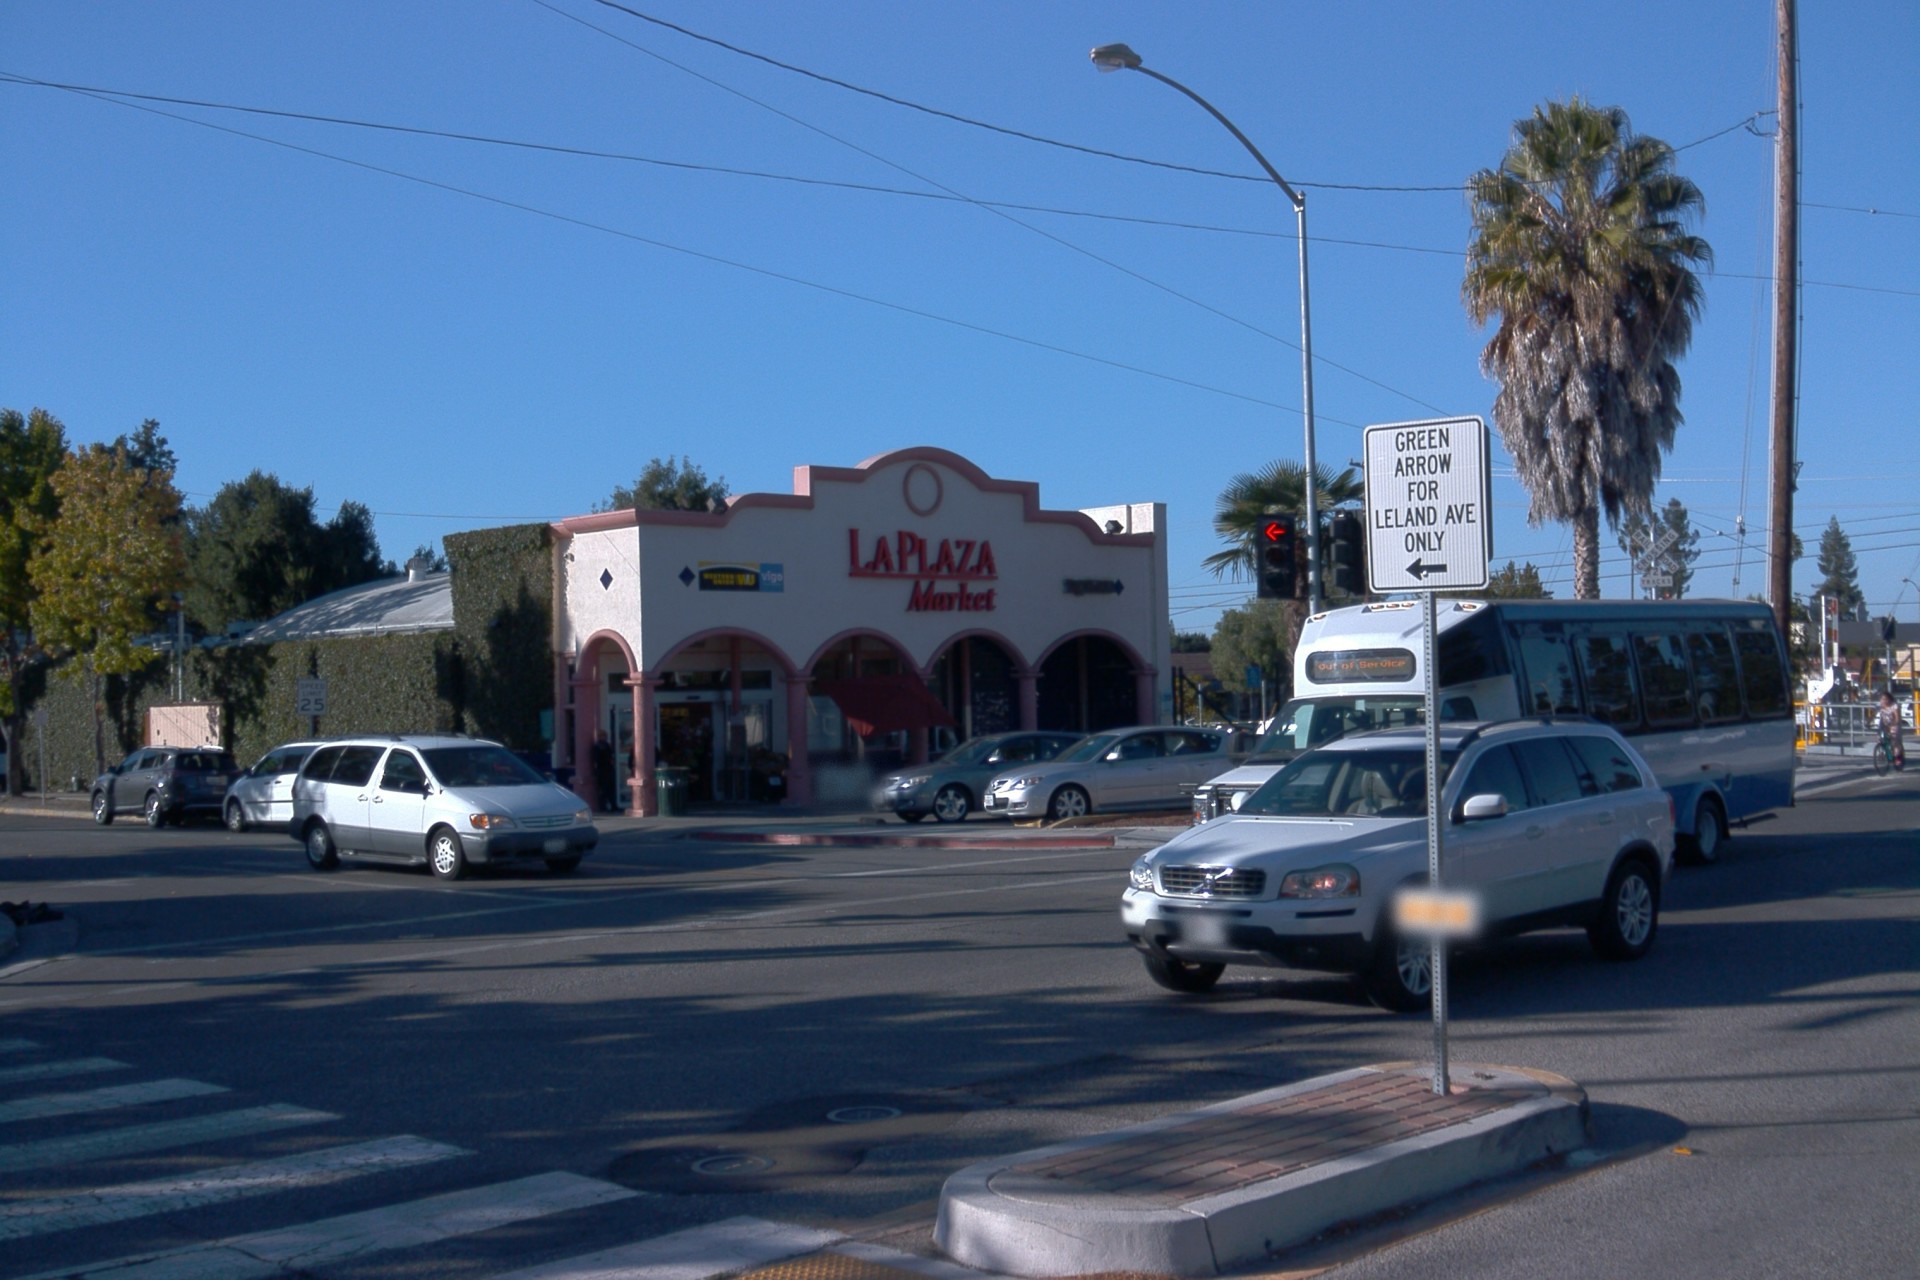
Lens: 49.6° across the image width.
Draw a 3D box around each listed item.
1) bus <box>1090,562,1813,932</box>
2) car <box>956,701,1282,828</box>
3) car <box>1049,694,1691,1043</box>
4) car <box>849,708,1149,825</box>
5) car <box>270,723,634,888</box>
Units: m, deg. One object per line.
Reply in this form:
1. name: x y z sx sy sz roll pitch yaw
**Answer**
1. bus: 5.468 0.910 21.379 3.007 3.030 9.254 0 -1 43
2. car: 2.466 1.880 32.294 4.646 1.780 2.014 0 0 -23
3. car: 2.989 1.371 14.363 2.132 1.910 4.767 0 -1 43
4. car: 0.663 2.053 34.652 4.565 1.760 2.047 0 0 -27
5. car: -6.494 1.989 26.214 4.949 1.710 2.120 0 -1 44
